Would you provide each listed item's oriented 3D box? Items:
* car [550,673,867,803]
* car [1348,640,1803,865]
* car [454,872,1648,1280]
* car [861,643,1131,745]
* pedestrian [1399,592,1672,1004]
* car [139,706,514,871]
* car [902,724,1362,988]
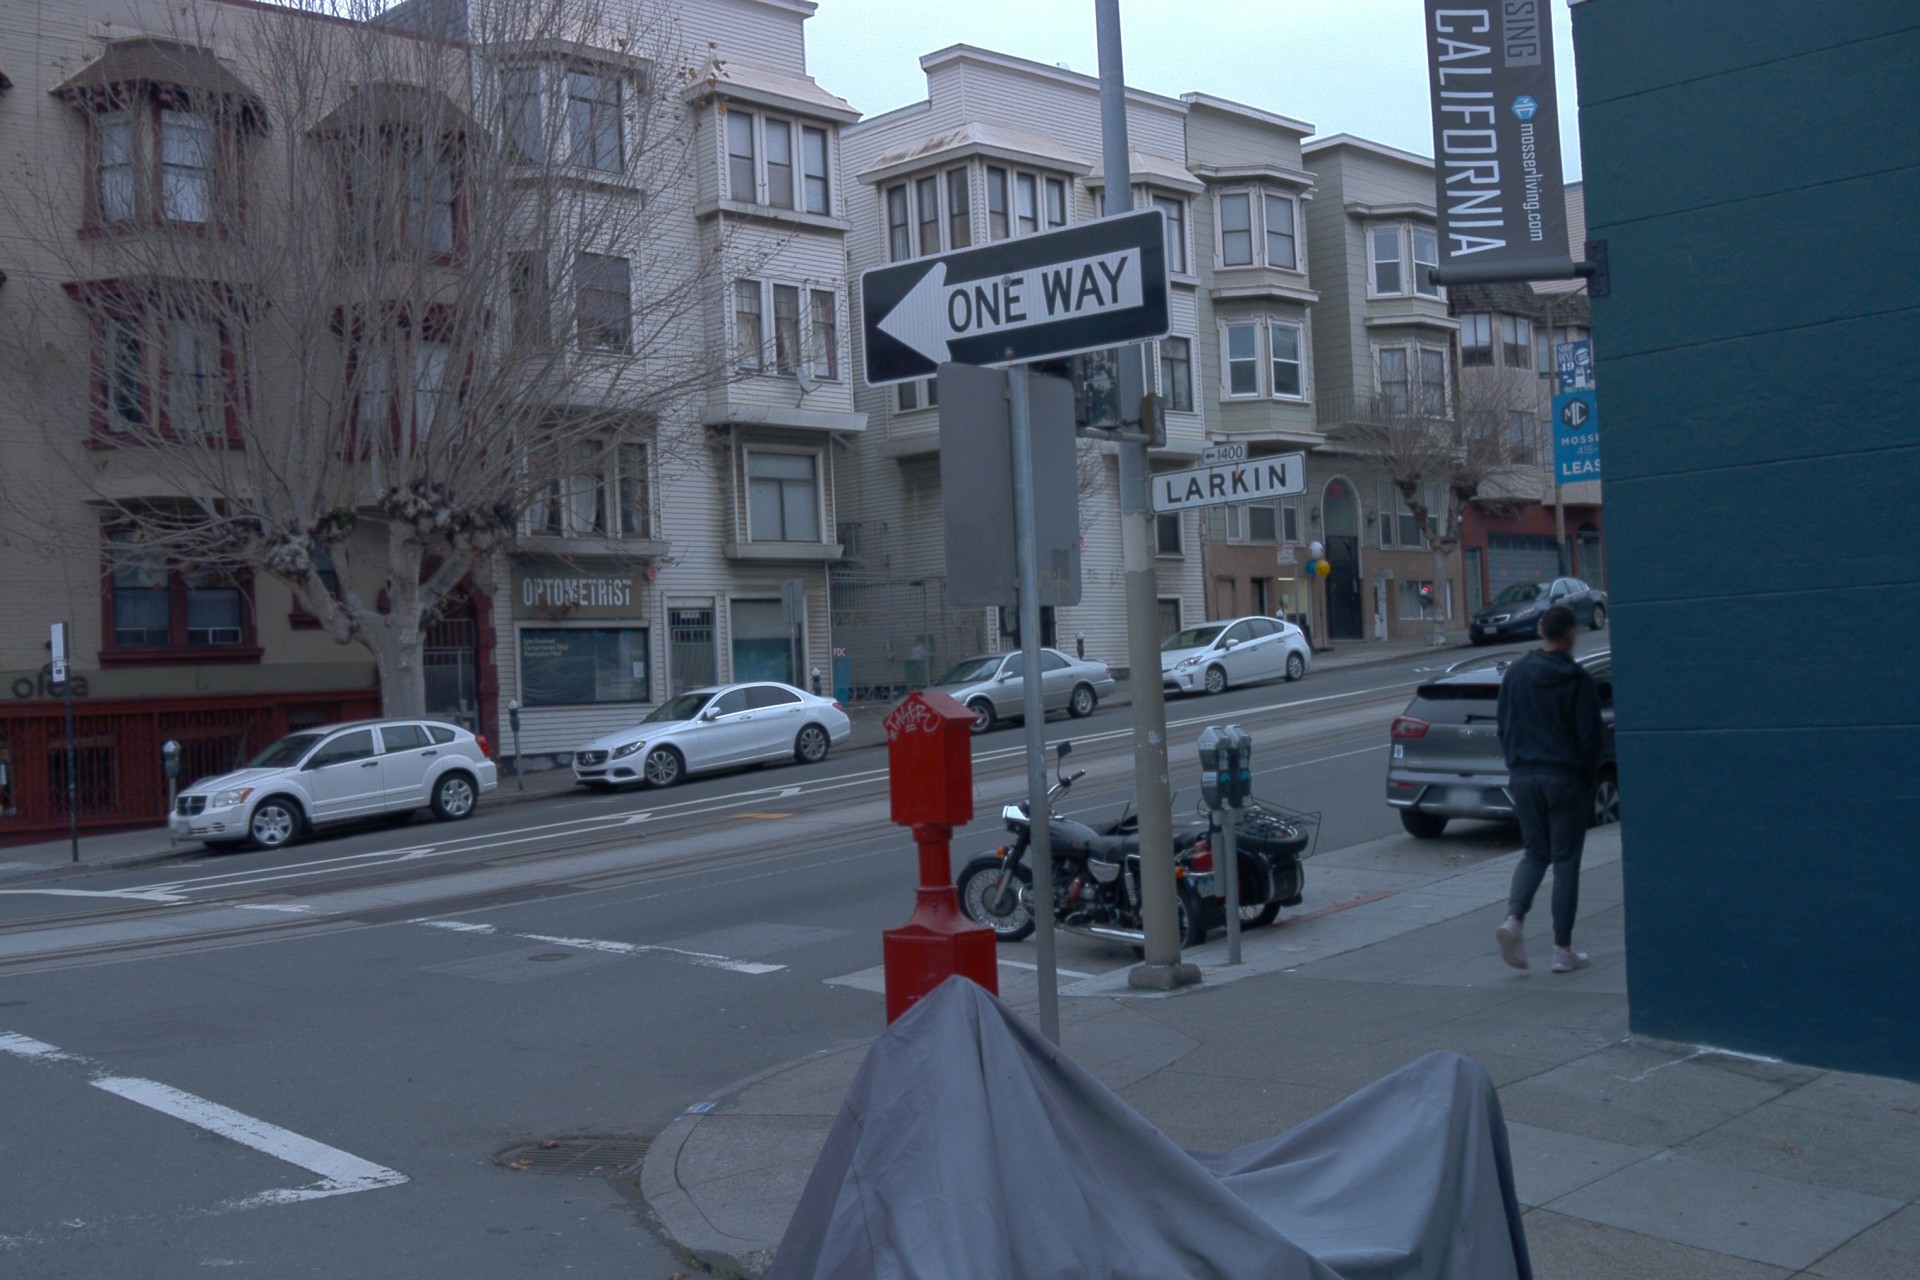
[{"bbox_3d":[-3.872,1.462,32.361,4.589,1.757,2.074,-1,1,-44],"label":"car"},{"bbox_3d":[5.645,0.882,18.583,2.132,1.717,4.606,0,1,42],"label":"car"},{"bbox_3d":[0.332,1.392,4.286,2.490,1.520,1.048,-1,1,-44],"label":"car"},{"bbox_3d":[0.712,0.916,37.121,4.801,1.657,2.084,-1,1,-45],"label":"car"},{"bbox_3d":[3.122,0.783,11.149,0.822,2.066,1.450,1,1,44],"label":"pedestrian"},{"bbox_3d":[-8.482,1.914,27.919,2.053,1.847,4.407,1,1,44],"label":"car"},{"bbox_3d":[1.133,1.377,14.055,2.745,1.460,1.540,0,1,42],"label":"car"}]
